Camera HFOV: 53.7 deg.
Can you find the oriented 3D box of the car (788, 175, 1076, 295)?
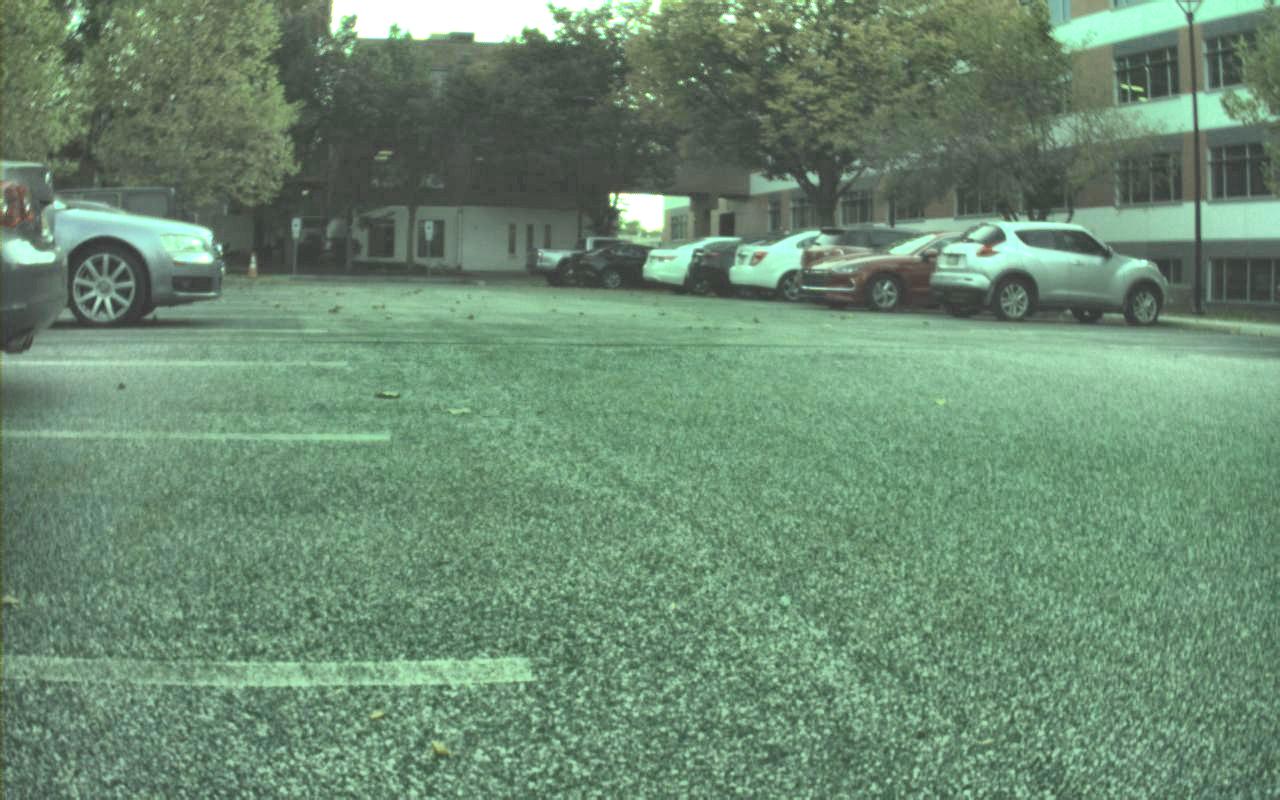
[{"bbox_3d":[5.031,-2.740,21.108,4.646,1.654,1.983,0,1,-15],"label":"car"}]

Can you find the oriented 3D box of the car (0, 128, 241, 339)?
[{"bbox_3d":[-5.714,-1.350,9.654,4.650,1.637,1.993,0,1,-18],"label":"car"}]

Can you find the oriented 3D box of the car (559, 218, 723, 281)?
[{"bbox_3d":[0.037,-4.551,38.479,4.599,1.601,1.956,0,1,-25],"label":"car"}]

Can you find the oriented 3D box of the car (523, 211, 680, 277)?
[{"bbox_3d":[-1.358,-5.312,43.283,5.019,1.917,2.094,0,1,-18],"label":"car"}]

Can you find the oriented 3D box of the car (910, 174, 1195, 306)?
[{"bbox_3d":[6.489,-2.380,18.772,4.285,1.661,1.898,0,1,-15],"label":"car"}]

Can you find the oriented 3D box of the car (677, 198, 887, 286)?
[{"bbox_3d":[3.255,-3.562,28.732,4.426,1.655,1.947,0,1,-16],"label":"car"}]

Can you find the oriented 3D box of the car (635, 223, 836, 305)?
[{"bbox_3d":[2.370,-3.319,31.230,4.603,1.735,1.996,0,1,-16],"label":"car"}]

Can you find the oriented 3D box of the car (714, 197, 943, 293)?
[{"bbox_3d":[3.968,-3.213,26.371,4.491,1.700,1.959,0,1,-11],"label":"car"}]

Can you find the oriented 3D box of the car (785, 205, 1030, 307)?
[{"bbox_3d":[5.191,-2.707,23.931,4.414,1.628,1.946,0,1,-15],"label":"car"}]

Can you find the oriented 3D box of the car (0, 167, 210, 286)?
[{"bbox_3d":[-9.479,-2.834,19.136,4.686,1.798,2.023,0,1,-20],"label":"car"}]
